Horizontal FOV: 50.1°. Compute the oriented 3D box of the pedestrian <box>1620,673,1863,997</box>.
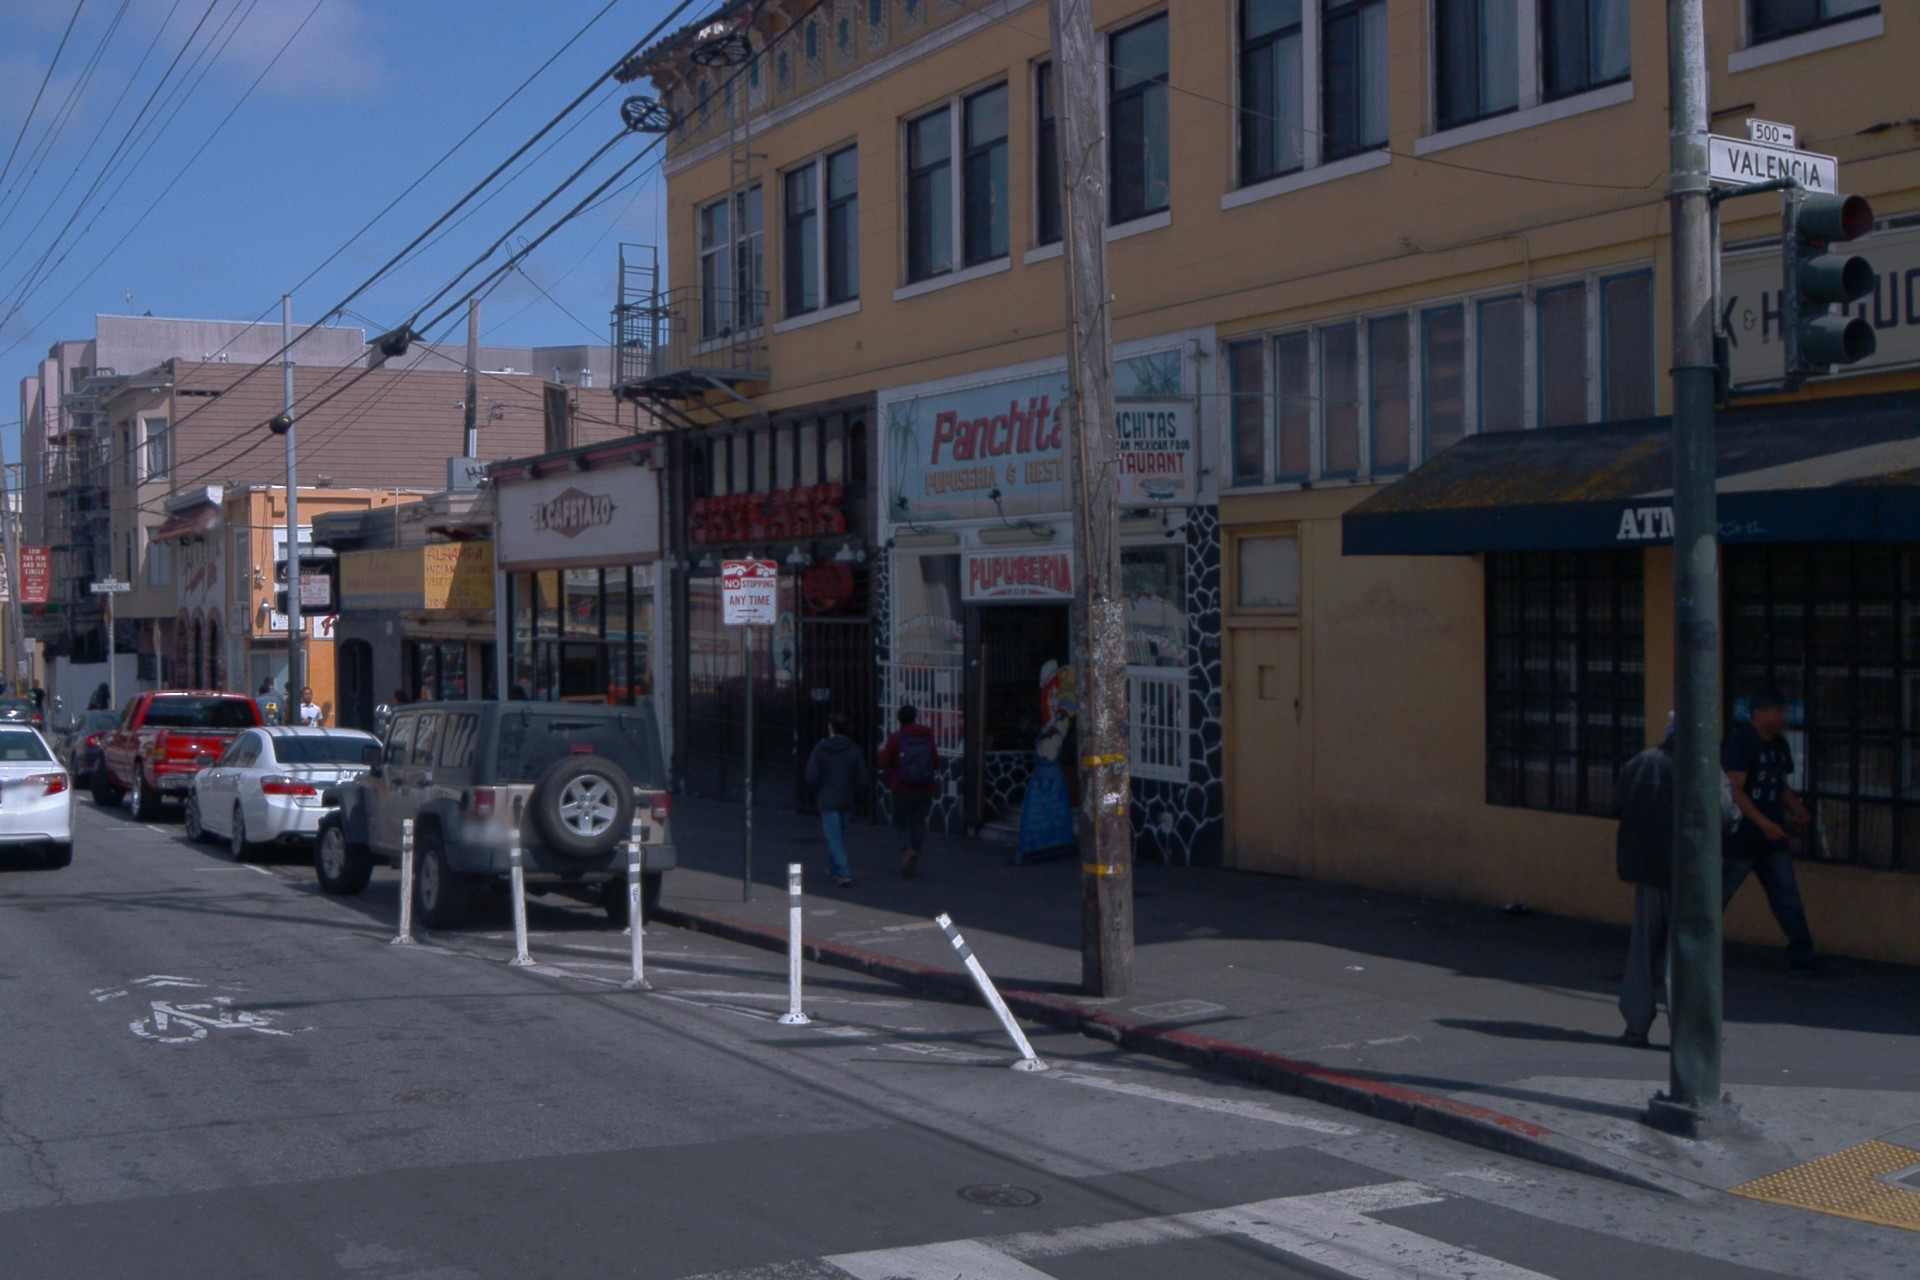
[{"bbox_3d":[4.739,1.135,12.502,0.933,1.830,1.015,-1,1,-31],"label":"pedestrian"}]

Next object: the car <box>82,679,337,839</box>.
[{"bbox_3d":[-11.045,1.613,29.947,2.353,1.910,5.704,-1,1,-32],"label":"car"}]

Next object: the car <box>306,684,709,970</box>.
[{"bbox_3d":[-4.069,1.444,17.819,2.011,1.960,4.747,-1,1,-31],"label":"car"}]

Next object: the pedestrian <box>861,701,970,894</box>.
[{"bbox_3d":[-0.410,1.403,18.583,0.745,1.650,0.863,0,1,-20],"label":"pedestrian"}]

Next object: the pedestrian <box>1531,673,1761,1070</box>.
[{"bbox_3d":[3.428,1.103,10.273,0.909,1.850,0.710,0,1,37],"label":"pedestrian"}]

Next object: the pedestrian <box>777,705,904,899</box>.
[{"bbox_3d":[-1.079,1.419,18.377,0.880,1.630,0.916,-1,1,-22],"label":"pedestrian"}]

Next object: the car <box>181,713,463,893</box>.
[{"bbox_3d":[-7.422,1.747,23.544,2.096,1.580,4.880,-1,1,-29],"label":"car"}]
